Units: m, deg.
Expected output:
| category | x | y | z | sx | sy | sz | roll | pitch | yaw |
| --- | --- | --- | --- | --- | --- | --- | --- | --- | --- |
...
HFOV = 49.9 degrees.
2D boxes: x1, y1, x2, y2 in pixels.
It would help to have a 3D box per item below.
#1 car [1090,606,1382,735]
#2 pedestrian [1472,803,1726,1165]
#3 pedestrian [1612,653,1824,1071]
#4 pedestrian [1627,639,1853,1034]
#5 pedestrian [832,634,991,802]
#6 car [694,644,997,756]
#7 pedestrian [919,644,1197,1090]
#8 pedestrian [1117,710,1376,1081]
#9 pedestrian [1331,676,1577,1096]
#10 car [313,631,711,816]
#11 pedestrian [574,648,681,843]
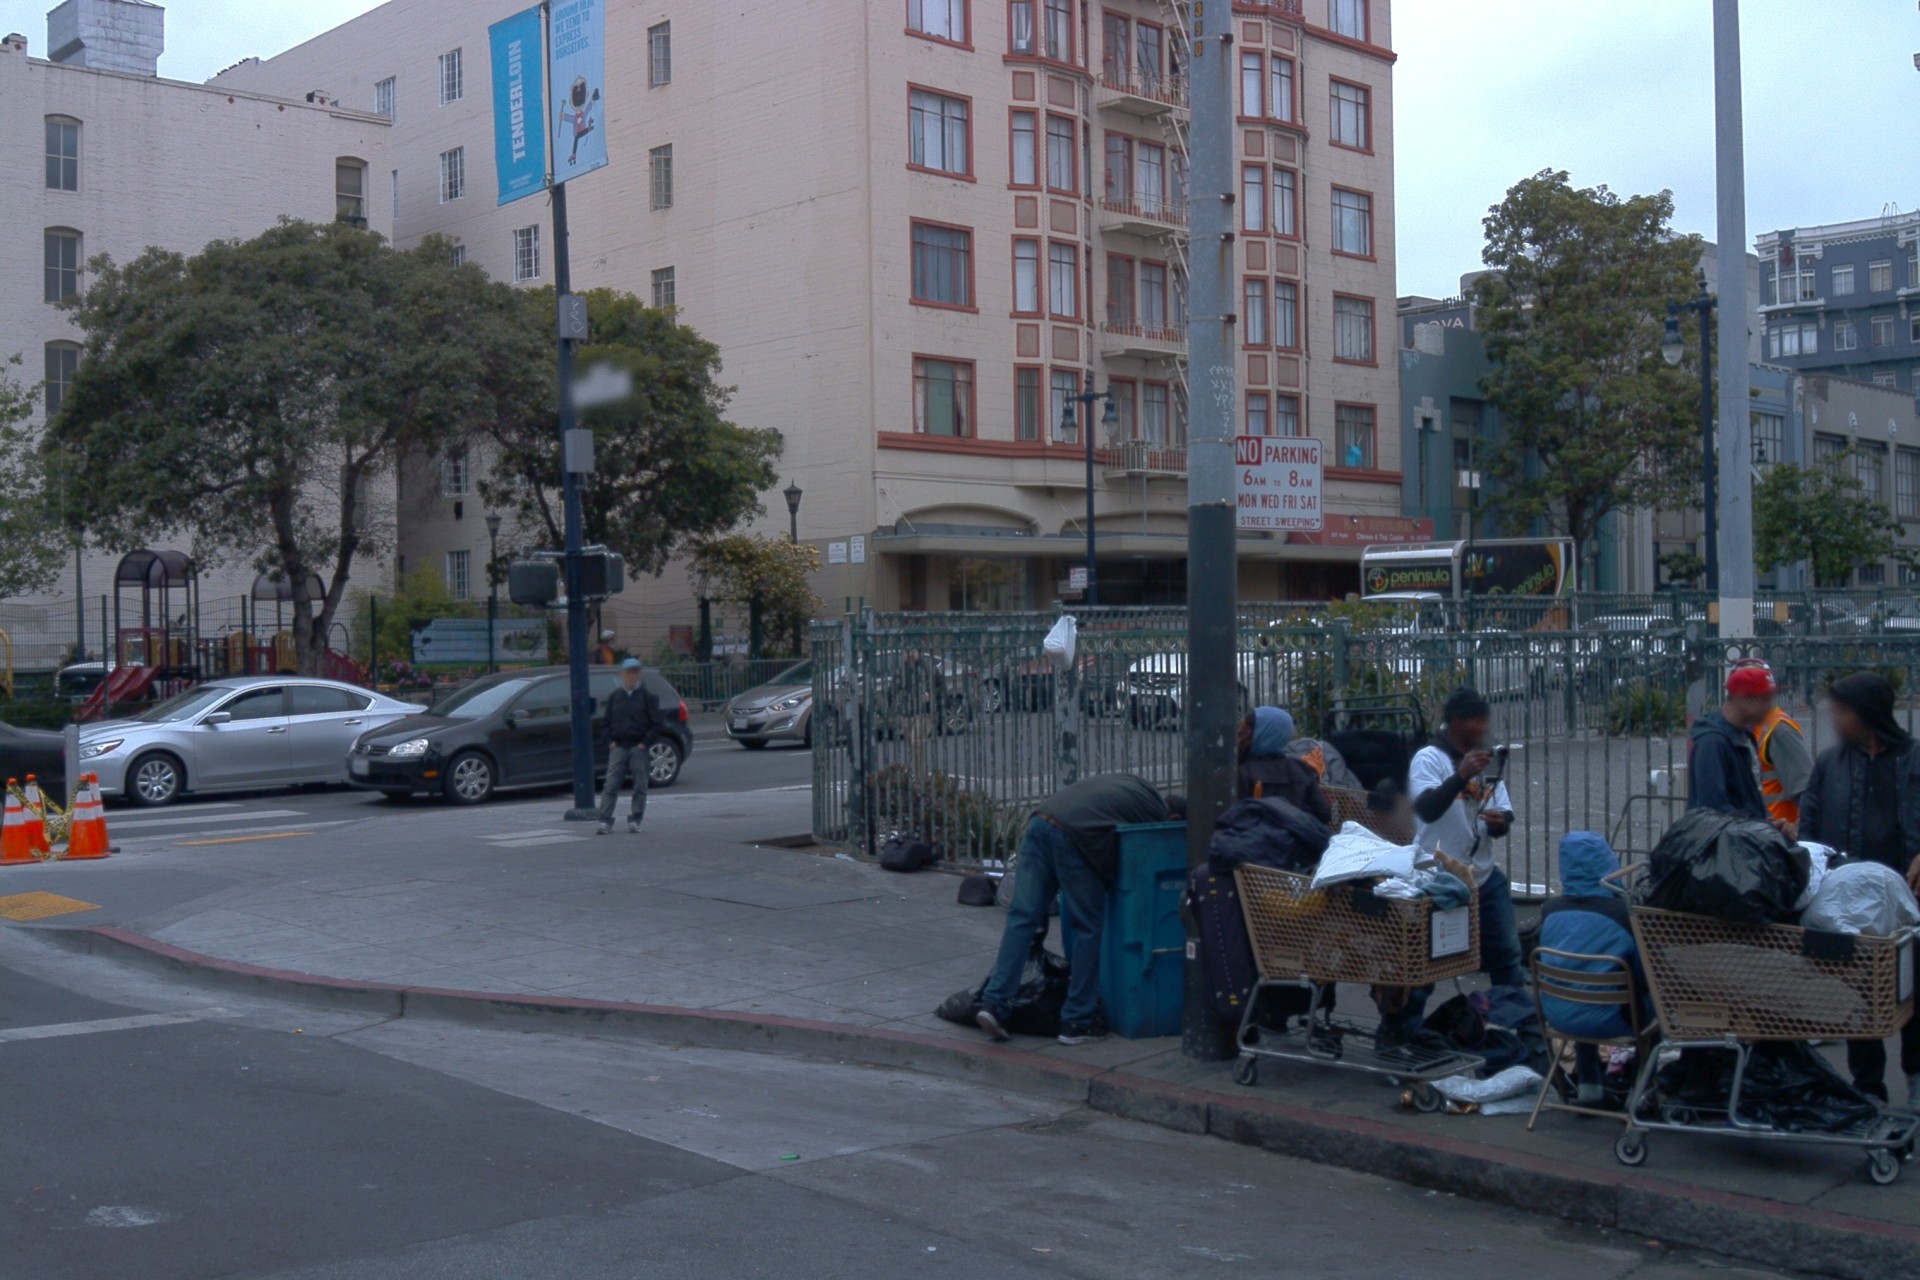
| category | x | y | z | sx | sy | sz | roll | pitch | yaw |
| --- | --- | --- | --- | --- | --- | --- | --- | --- | --- |
| car | 4.530 | 0.438 | 33.431 | 4.775 | 1.930 | 2.184 | -1 | 1 | -44 |
| pedestrian | 2.566 | 1.338 | 8.300 | 0.708 | 1.280 | 0.713 | -1 | 1 | -43 |
| pedestrian | 3.538 | 0.982 | 9.631 | 0.725 | 1.830 | 0.781 | 0 | 1 | 37 |
| pedestrian | 3.832 | 0.915 | 10.239 | 0.830 | 1.830 | 1.107 | 0 | 1 | 9 |
| pedestrian | -0.517 | 0.796 | 22.108 | 1.115 | 1.720 | 1.309 | 0 | 1 | 40 |
| car | -1.694 | 0.865 | 31.750 | 4.454 | 1.540 | 1.957 | -1 | 1 | -44 |
| pedestrian | 0.472 | 1.035 | 10.039 | 1.056 | 2.020 | 0.835 | 0 | 1 | -33 |
| pedestrian | 1.396 | 1.198 | 10.125 | 1.024 | 1.660 | 0.728 | 1 | 1 | 44 |
| pedestrian | 2.194 | 1.058 | 9.283 | 0.828 | 1.770 | 0.888 | 0 | 1 | -5 |
| car | -5.161 | 0.881 | 24.134 | 4.185 | 1.950 | 1.875 | -1 | 1 | -44 |
| pedestrian | -2.926 | 0.911 | 18.223 | 0.777 | 1.670 | 0.798 | 0 | 1 | 3 |
